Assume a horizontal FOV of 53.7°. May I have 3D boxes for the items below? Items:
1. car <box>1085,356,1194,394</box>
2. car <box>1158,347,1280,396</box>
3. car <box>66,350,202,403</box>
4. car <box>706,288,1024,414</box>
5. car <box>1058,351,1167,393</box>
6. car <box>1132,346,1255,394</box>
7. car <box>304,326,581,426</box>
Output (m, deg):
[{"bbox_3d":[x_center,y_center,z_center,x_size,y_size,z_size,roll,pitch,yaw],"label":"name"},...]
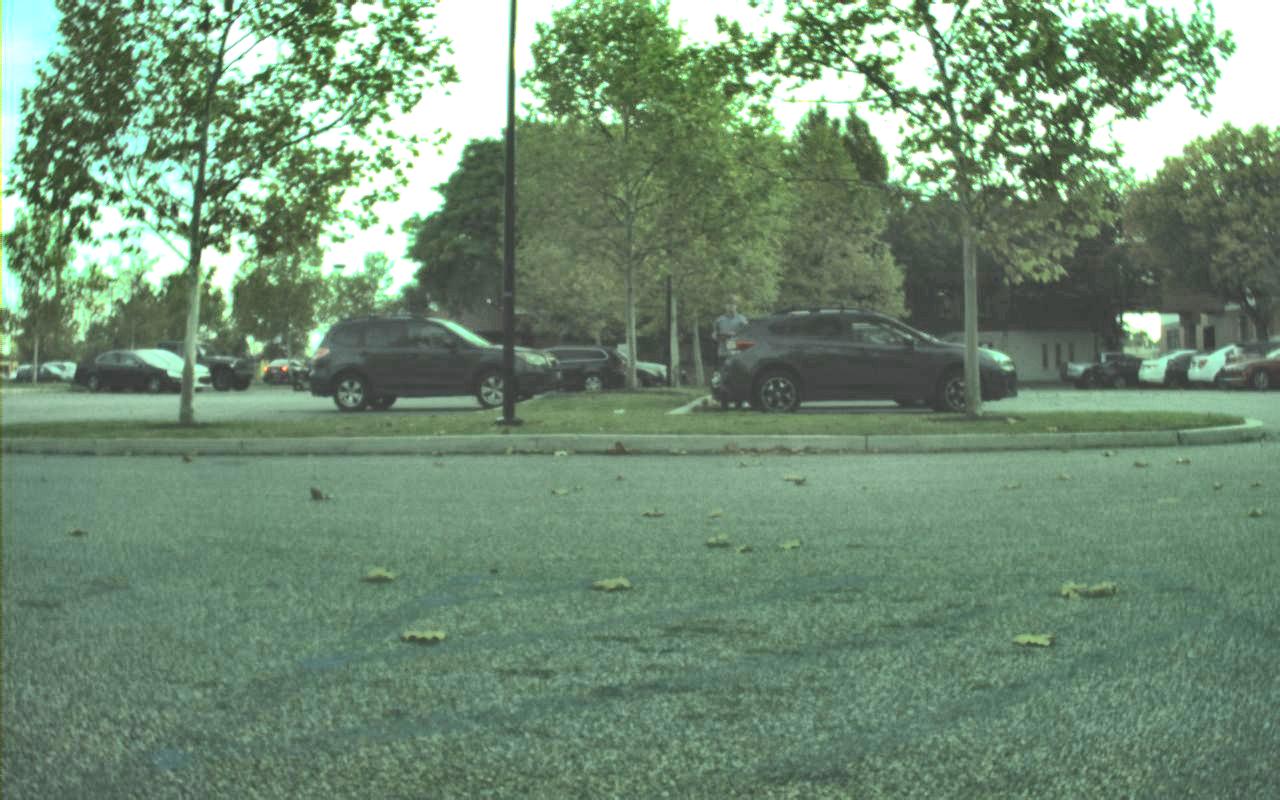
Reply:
[{"bbox_3d":[21.538,-0.965,51.016,4.581,1.601,1.964,0,1,-2],"label":"car"},{"bbox_3d":[20.579,-0.902,40.800,4.472,1.666,1.965,0,1,-9],"label":"car"},{"bbox_3d":[-17.090,-0.736,39.333,4.494,1.698,1.951,1,1,6],"label":"car"},{"bbox_3d":[3.299,-0.711,18.627,4.579,1.750,1.972,1,1,4],"label":"car"},{"bbox_3d":[22.190,-1.207,56.037,4.998,1.917,2.103,1,1,6],"label":"car"},{"bbox_3d":[20.620,-1.008,43.364,4.569,1.719,2.001,1,1,9],"label":"car"},{"bbox_3d":[-3.519,-0.455,22.387,4.645,1.682,1.992,1,1,6],"label":"car"}]
